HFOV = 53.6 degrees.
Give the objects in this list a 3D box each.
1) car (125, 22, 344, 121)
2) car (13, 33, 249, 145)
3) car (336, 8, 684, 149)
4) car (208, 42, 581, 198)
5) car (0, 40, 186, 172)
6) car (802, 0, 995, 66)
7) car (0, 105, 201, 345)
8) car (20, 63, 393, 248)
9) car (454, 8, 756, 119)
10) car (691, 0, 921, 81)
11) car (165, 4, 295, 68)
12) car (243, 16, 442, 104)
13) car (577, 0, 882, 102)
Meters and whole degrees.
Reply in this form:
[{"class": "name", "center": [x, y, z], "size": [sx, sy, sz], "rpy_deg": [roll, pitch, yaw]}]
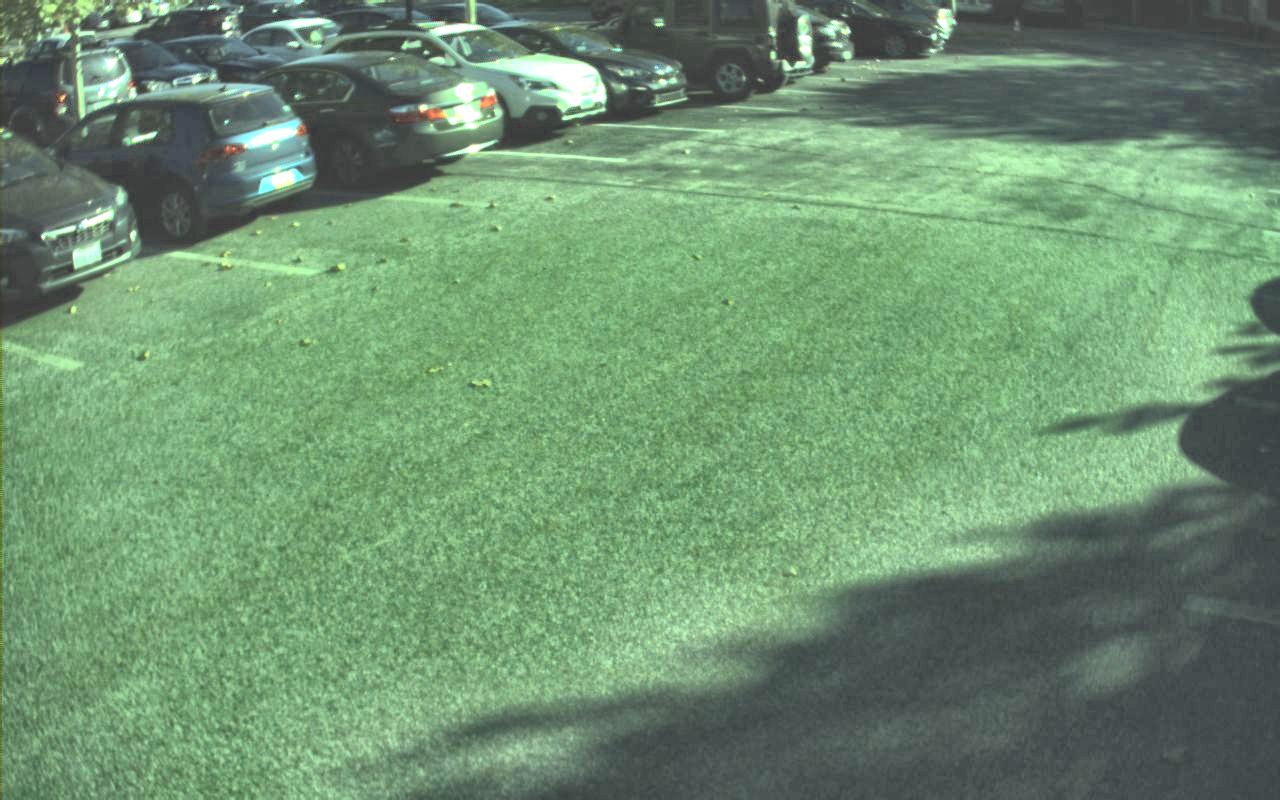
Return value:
[{"class": "car", "center": [-8.156, -6.442, 23.234], "size": [4.449, 1.602, 1.974], "rpy_deg": [8, 18, 27]}, {"class": "car", "center": [-9.429, -5.626, 20.849], "size": [4.420, 1.610, 1.959], "rpy_deg": [5, 17, 19]}, {"class": "car", "center": [-1.954, -4.554, 17.315], "size": [4.752, 1.760, 2.043], "rpy_deg": [10, 20, 33]}, {"class": "car", "center": [-3.154, -3.454, 14.818], "size": [4.625, 1.574, 1.983], "rpy_deg": [11, 20, 34]}, {"class": "car", "center": [-9.776, -4.778, 18.484], "size": [4.652, 1.748, 2.045], "rpy_deg": [7, 18, 25]}, {"class": "car", "center": [6.353, -9.047, 29.507], "size": [4.425, 1.617, 1.966], "rpy_deg": [7, 18, 26]}, {"class": "car", "center": [-6.351, -1.754, 10.538], "size": [4.536, 1.669, 1.978], "rpy_deg": [8, 19, 28]}, {"class": "car", "center": [-4.901, -2.678, 12.803], "size": [4.233, 1.604, 1.906], "rpy_deg": [8, 18, 27]}, {"class": "car", "center": [-0.602, -5.269, 19.232], "size": [4.390, 1.589, 1.946], "rpy_deg": [10, 19, 32]}, {"class": "car", "center": [3.461, -7.581, 25.632], "size": [4.466, 1.615, 1.978], "rpy_deg": [11, 20, 35]}, {"class": "car", "center": [-13.936, -12.193, 39.321], "size": [4.645, 1.734, 2.018], "rpy_deg": [9, 19, 29]}, {"class": "car", "center": [-6.547, -7.303, 25.940], "size": [4.530, 1.639, 1.988], "rpy_deg": [12, 20, 36]}, {"class": "car", "center": [1.531, -6.125, 21.041], "size": [4.818, 1.837, 2.066], "rpy_deg": [8, 19, 28]}]
